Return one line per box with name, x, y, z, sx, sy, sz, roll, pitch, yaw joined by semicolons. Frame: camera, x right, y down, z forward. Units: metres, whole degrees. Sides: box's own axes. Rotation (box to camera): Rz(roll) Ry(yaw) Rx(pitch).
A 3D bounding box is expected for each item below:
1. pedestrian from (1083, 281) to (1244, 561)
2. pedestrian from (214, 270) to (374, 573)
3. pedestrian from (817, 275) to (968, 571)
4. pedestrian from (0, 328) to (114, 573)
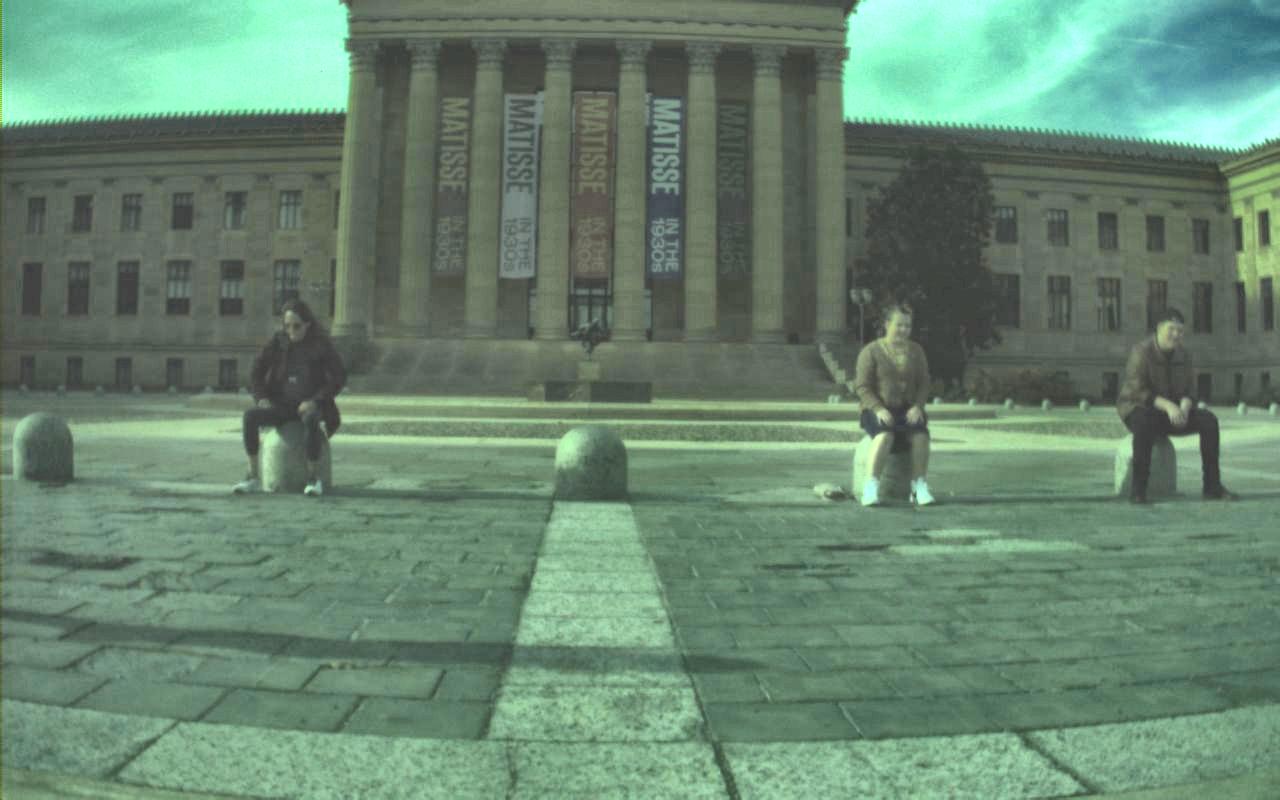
pedestrian;3.513;0.139;7.865;0.828;1.769;0.832;0;0;-5
pedestrian;-2.179;0.123;7.707;0.856;1.810;0.857;0;0;-1
pedestrian;1.593;0.139;7.921;0.821;1.789;0.814;0;0;1
pedestrian;-4.090;0.333;7.601;0.878;1.563;0.823;0;0;-3
